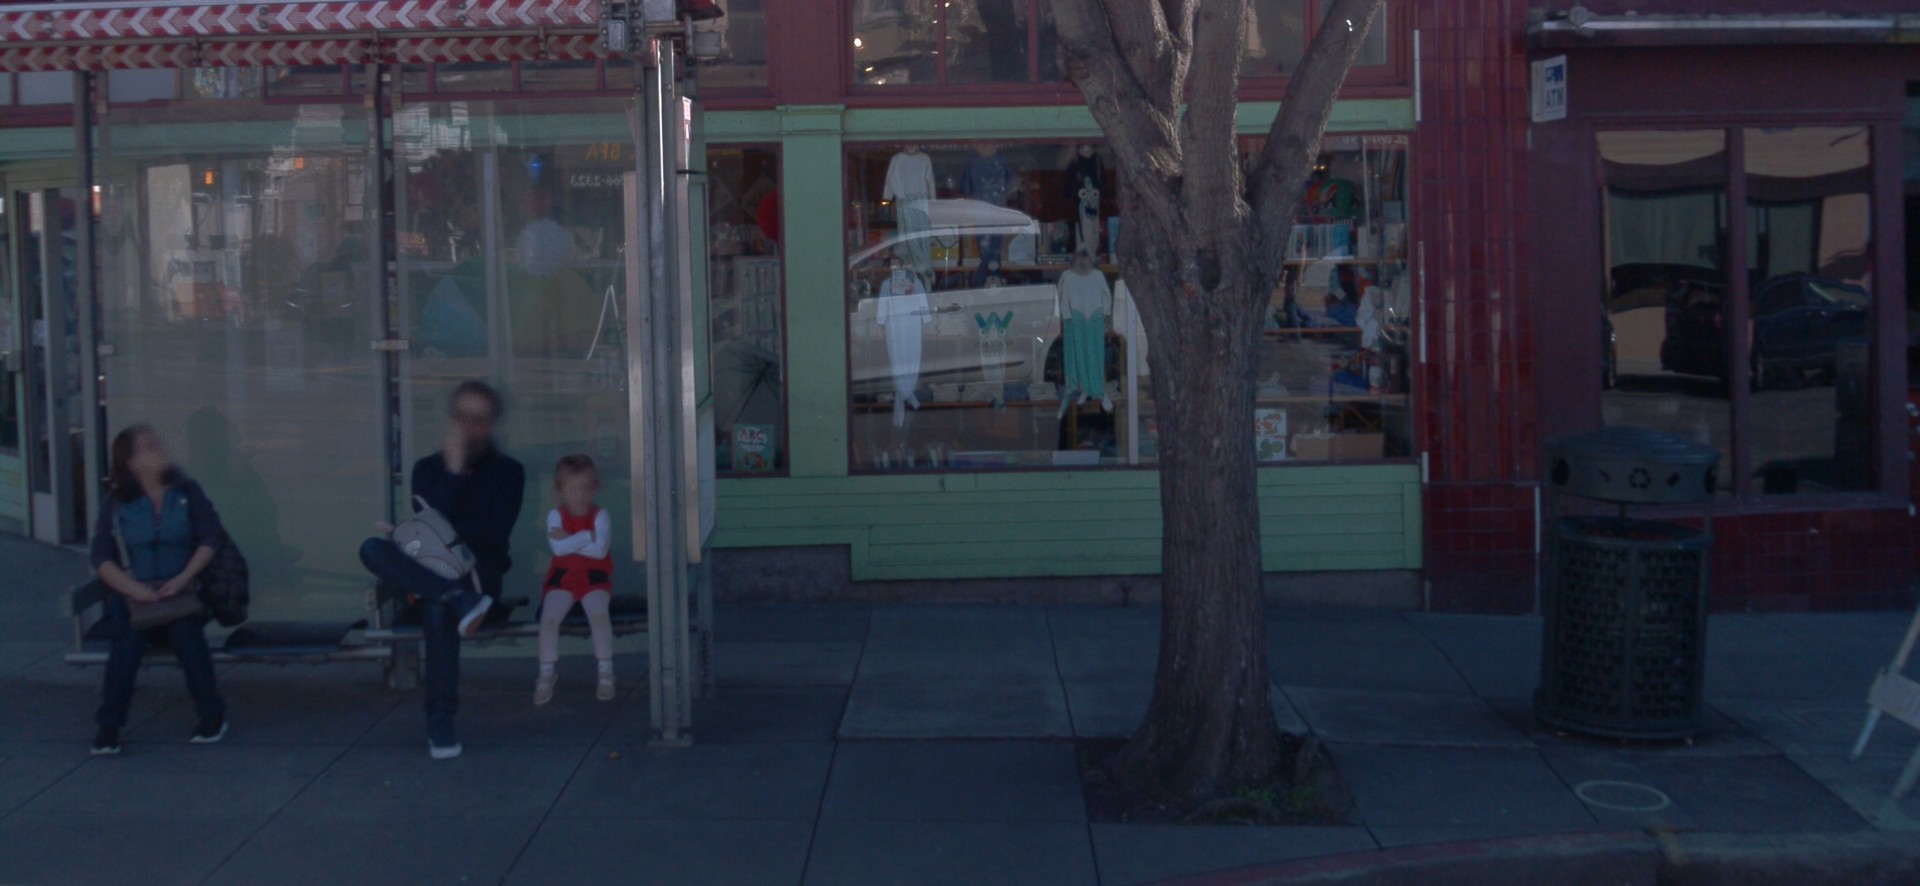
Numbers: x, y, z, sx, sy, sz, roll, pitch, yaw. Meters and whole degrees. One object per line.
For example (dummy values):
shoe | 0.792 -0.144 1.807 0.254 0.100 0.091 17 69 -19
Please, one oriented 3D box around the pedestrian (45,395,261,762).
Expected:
pedestrian | -3.127 0.486 8.060 0.737 1.258 0.794 -1 2 -19

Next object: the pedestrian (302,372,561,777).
pedestrian | -2.015 0.464 7.989 0.753 1.398 0.926 0 2 0

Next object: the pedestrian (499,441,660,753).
pedestrian | -1.464 0.577 8.011 0.528 1.098 0.572 0 2 -3
